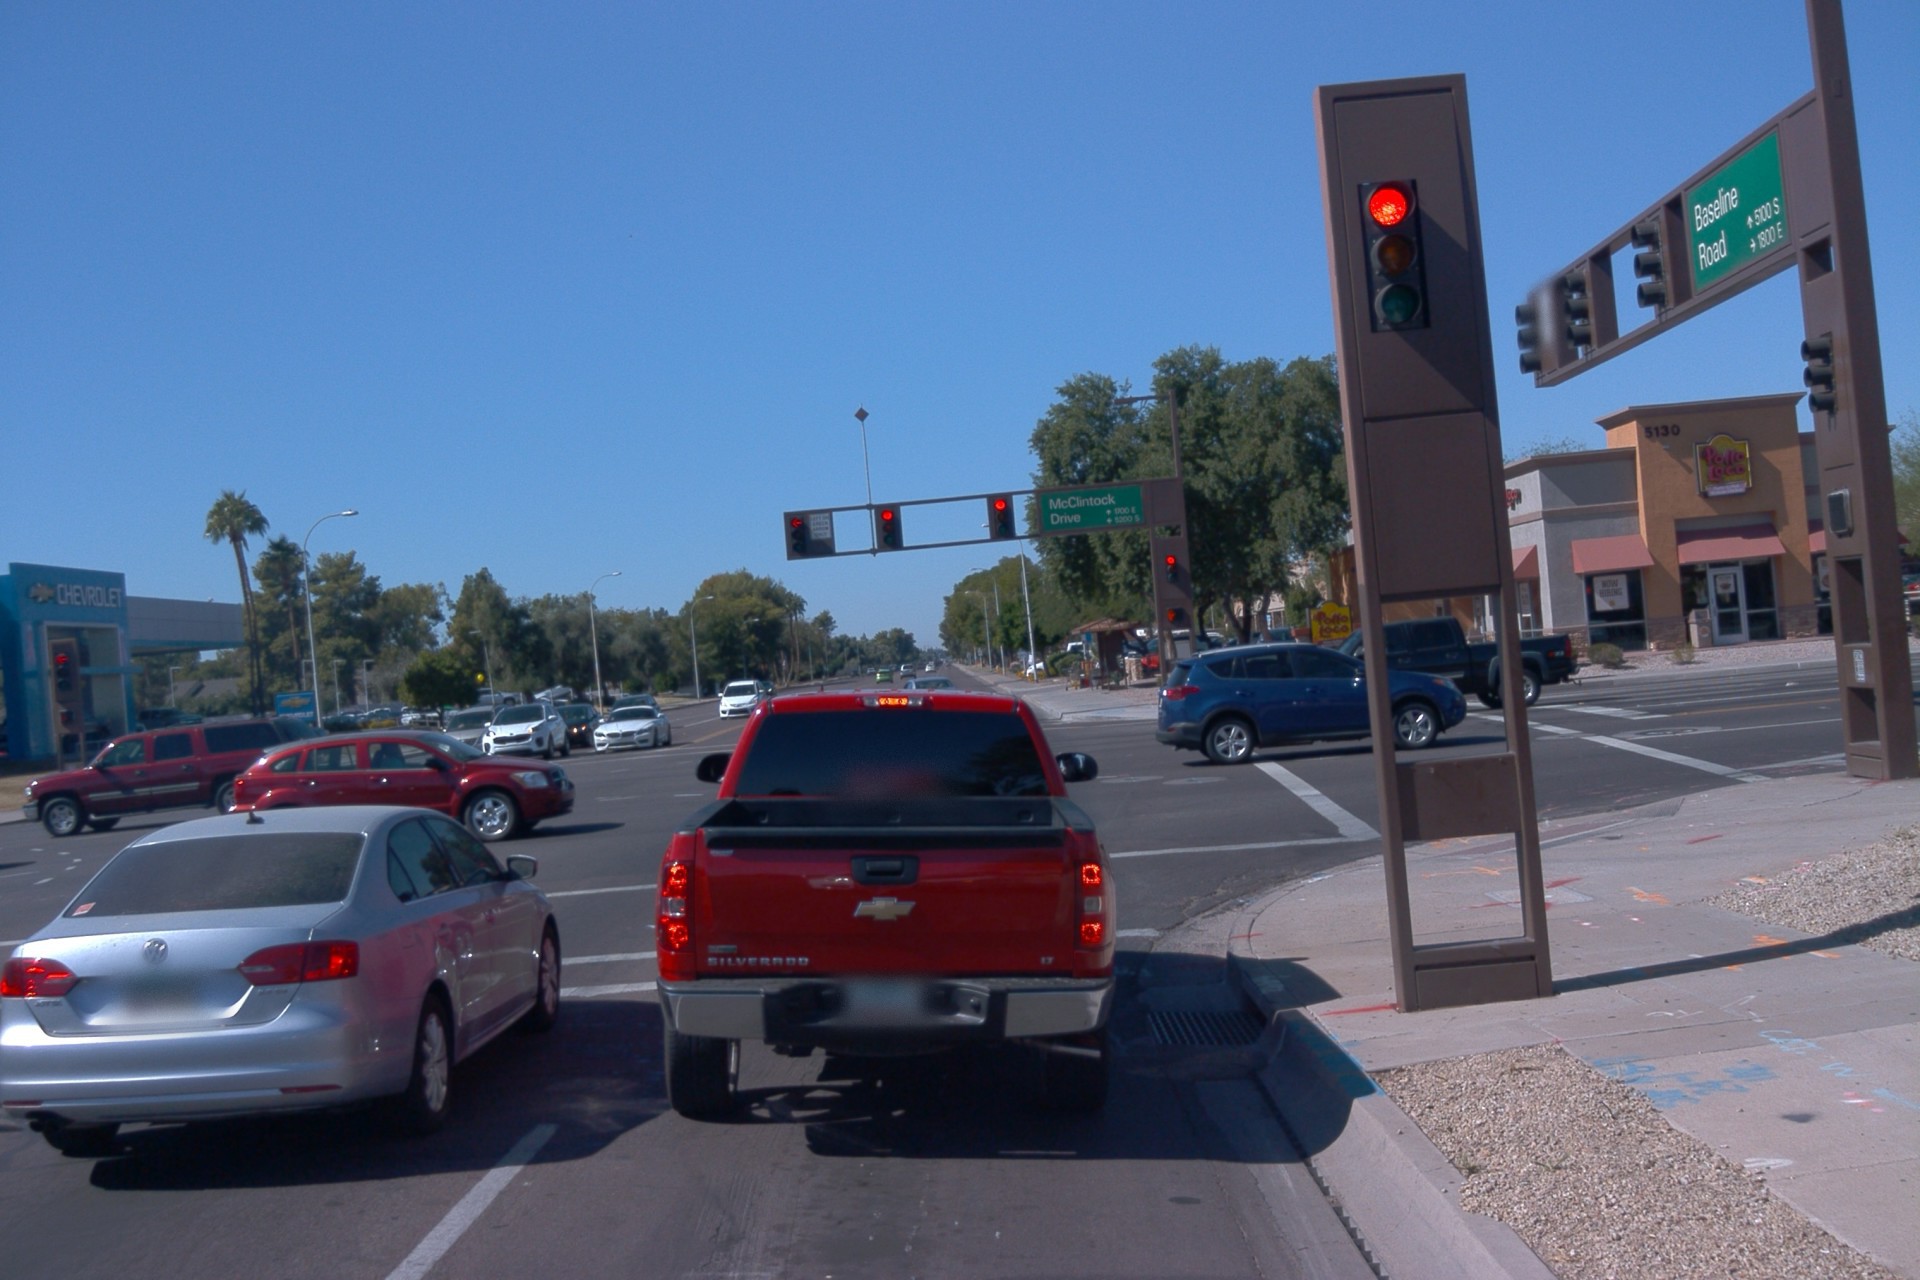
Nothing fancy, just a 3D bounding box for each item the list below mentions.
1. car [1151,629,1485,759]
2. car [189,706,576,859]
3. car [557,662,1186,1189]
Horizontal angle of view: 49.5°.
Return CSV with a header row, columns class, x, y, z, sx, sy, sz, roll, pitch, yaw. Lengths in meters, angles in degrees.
class,x,y,z,sx,sy,sz,roll,pitch,yaw
car,5.141,0.777,30.346,4.556,1.781,1.833,1,-1,1
car,-7.391,1.808,26.970,4.471,1.830,1.847,1,-1,1
car,-0.391,1.207,11.359,2.538,2.120,5.758,1,-1,-1
